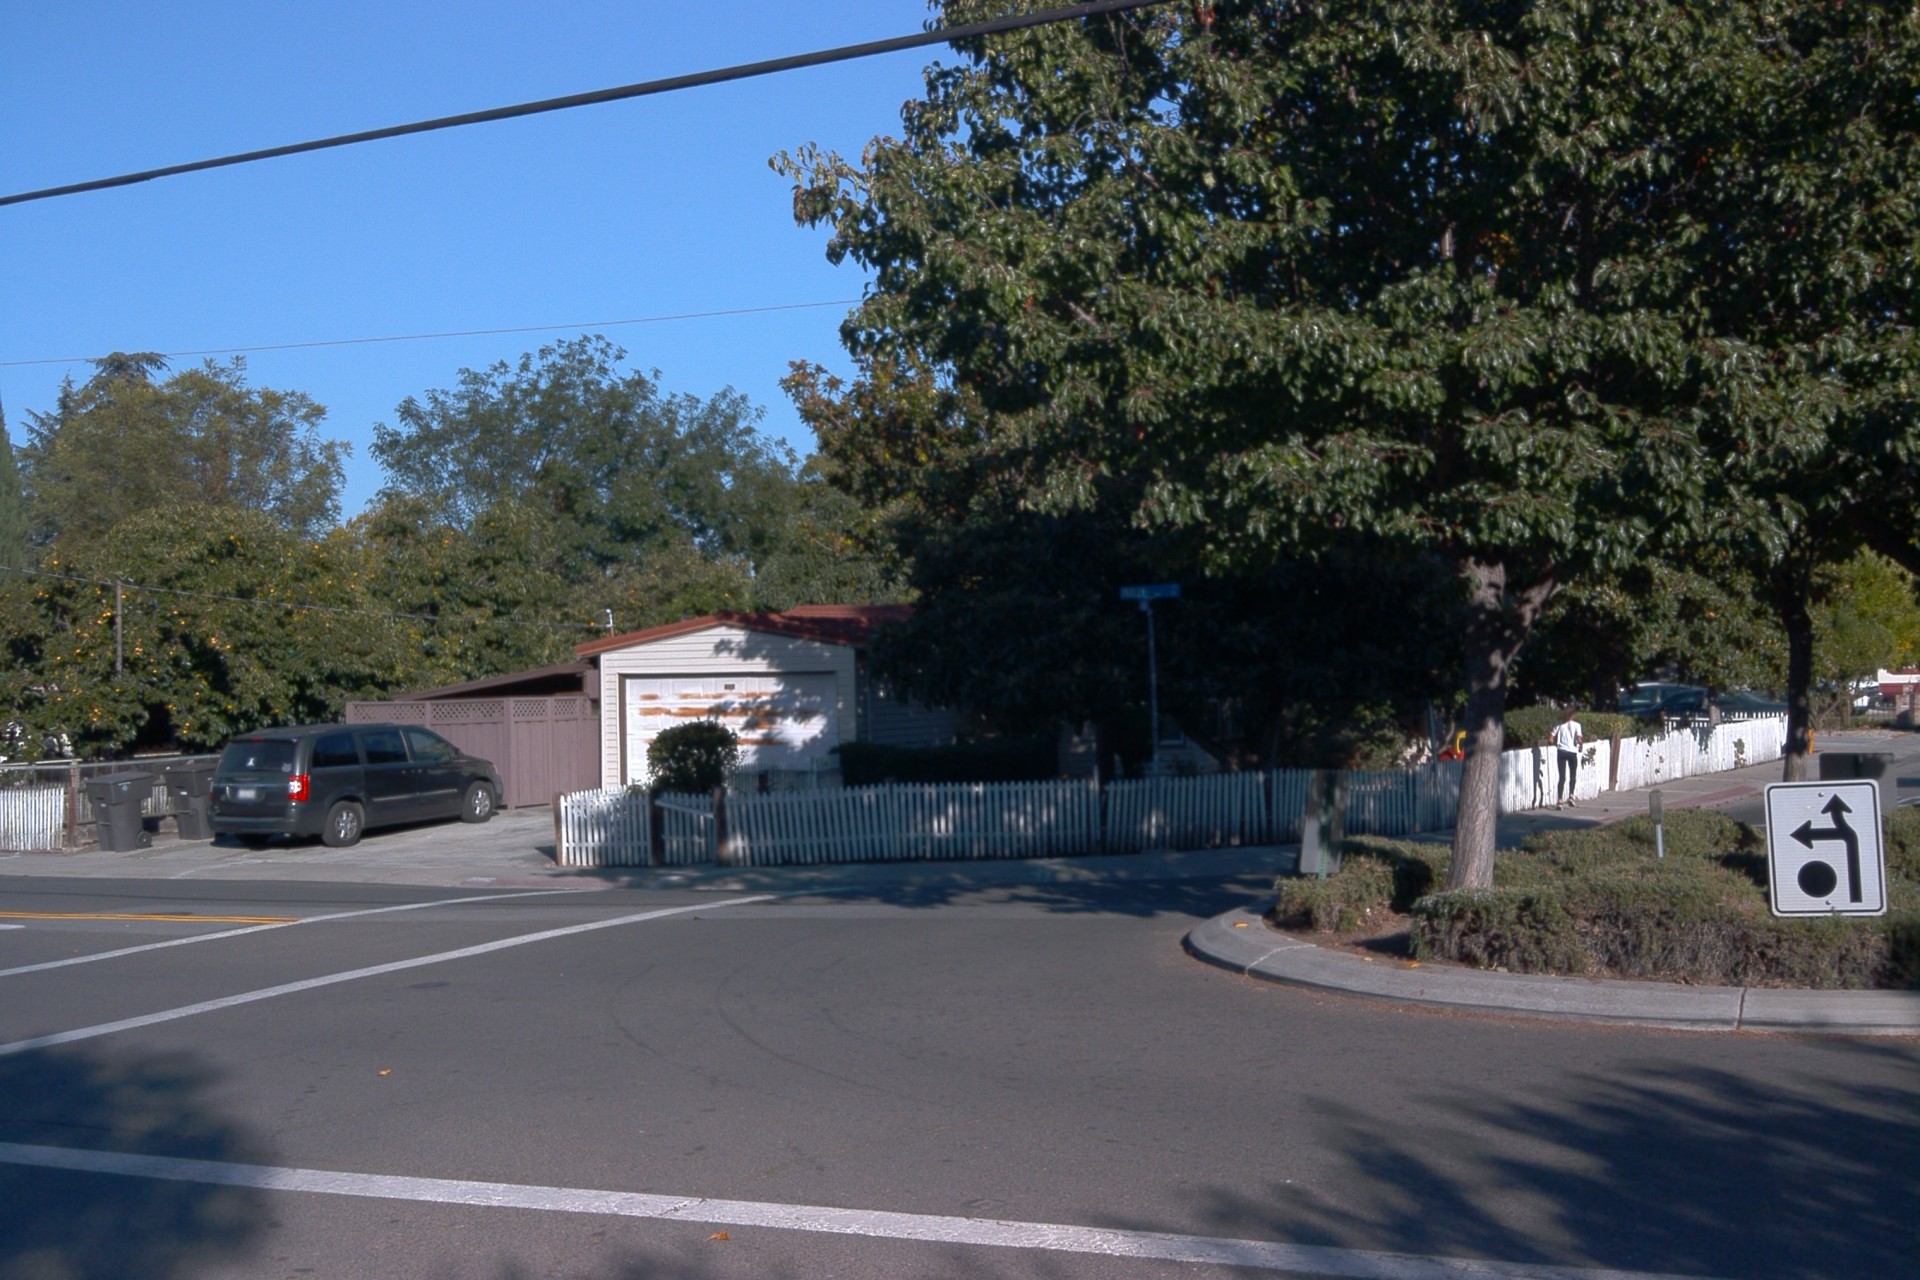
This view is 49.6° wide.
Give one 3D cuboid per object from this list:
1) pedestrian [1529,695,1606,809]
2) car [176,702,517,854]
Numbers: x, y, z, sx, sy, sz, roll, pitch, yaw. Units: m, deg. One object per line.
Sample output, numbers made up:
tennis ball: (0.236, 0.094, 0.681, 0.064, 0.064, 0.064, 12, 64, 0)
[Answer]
pedestrian: (8.848, 1.607, 30.255, 0.837, 1.580, 1.183, 1, 0, 27)
car: (-9.155, 1.994, 31.512, 2.140, 1.930, 4.988, 1, 0, 25)
